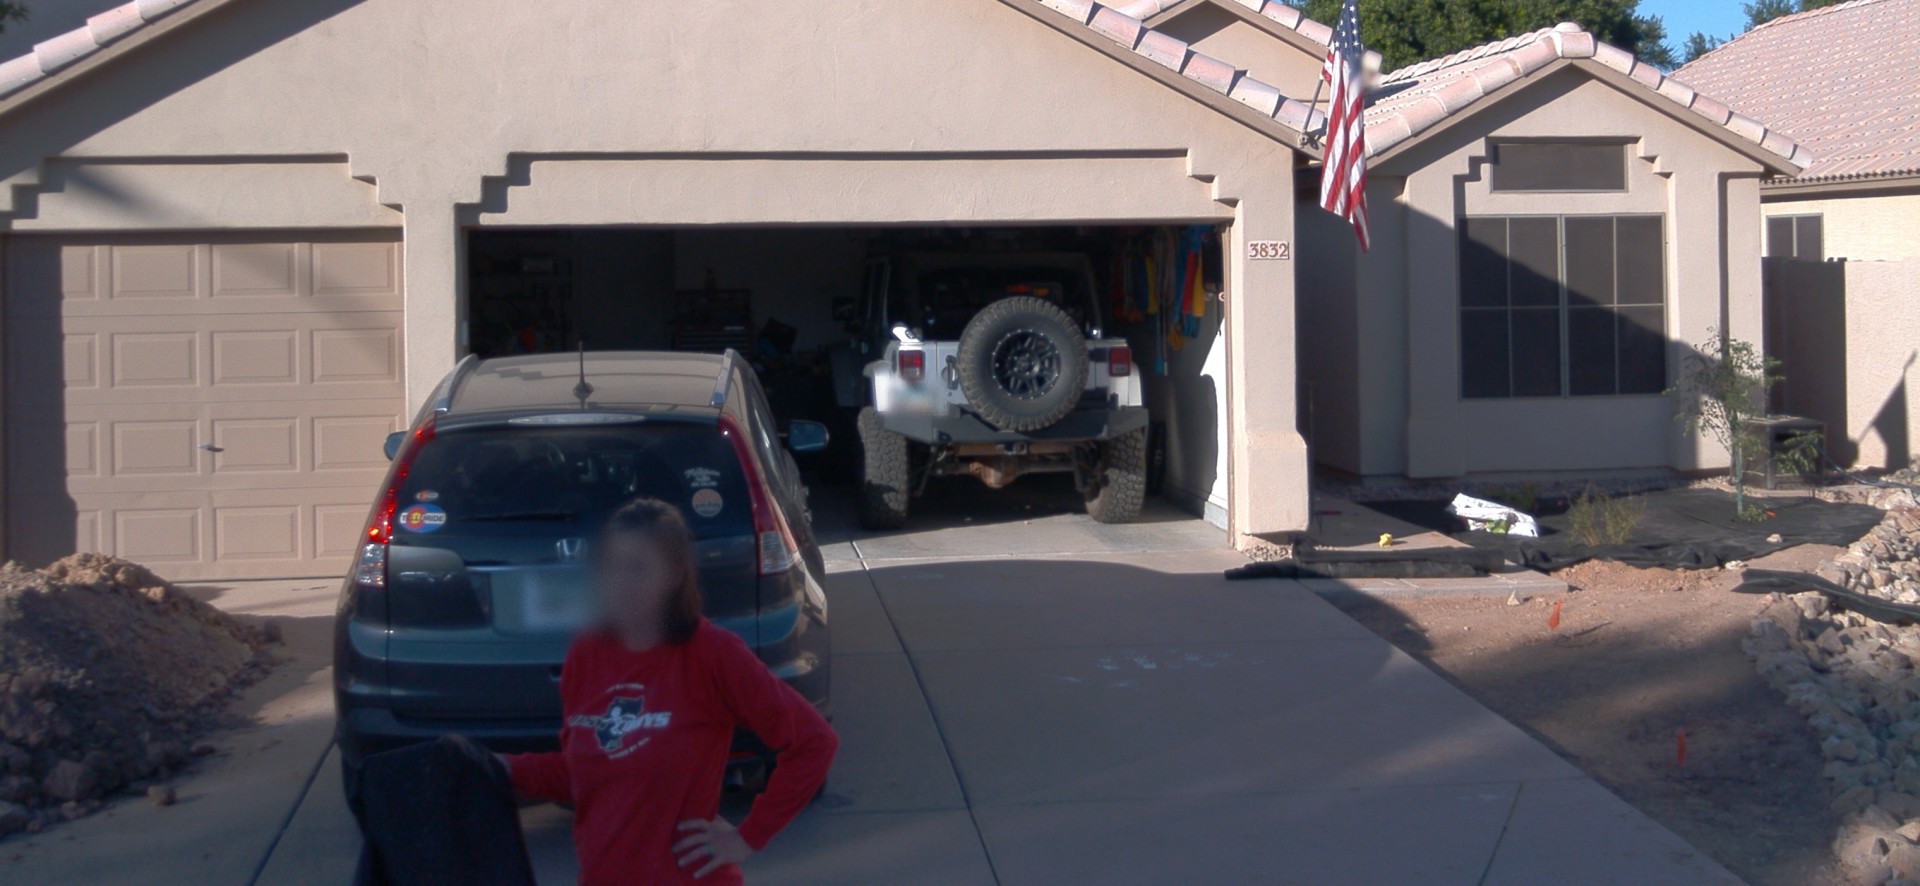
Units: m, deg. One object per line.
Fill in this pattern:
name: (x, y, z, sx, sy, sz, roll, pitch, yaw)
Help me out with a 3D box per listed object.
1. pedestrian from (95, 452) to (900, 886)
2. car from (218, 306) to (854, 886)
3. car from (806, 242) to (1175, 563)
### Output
pedestrian: (-0.801, 0.969, 4.037, 1.268, 1.750, 1.309, -1, 2, -6)
car: (-1.657, 0.414, 9.124, 2.047, 1.864, 4.519, -1, 5, -7)
car: (0.043, -0.491, 15.880, 2.114, 2.034, 4.669, -1, 4, -8)
